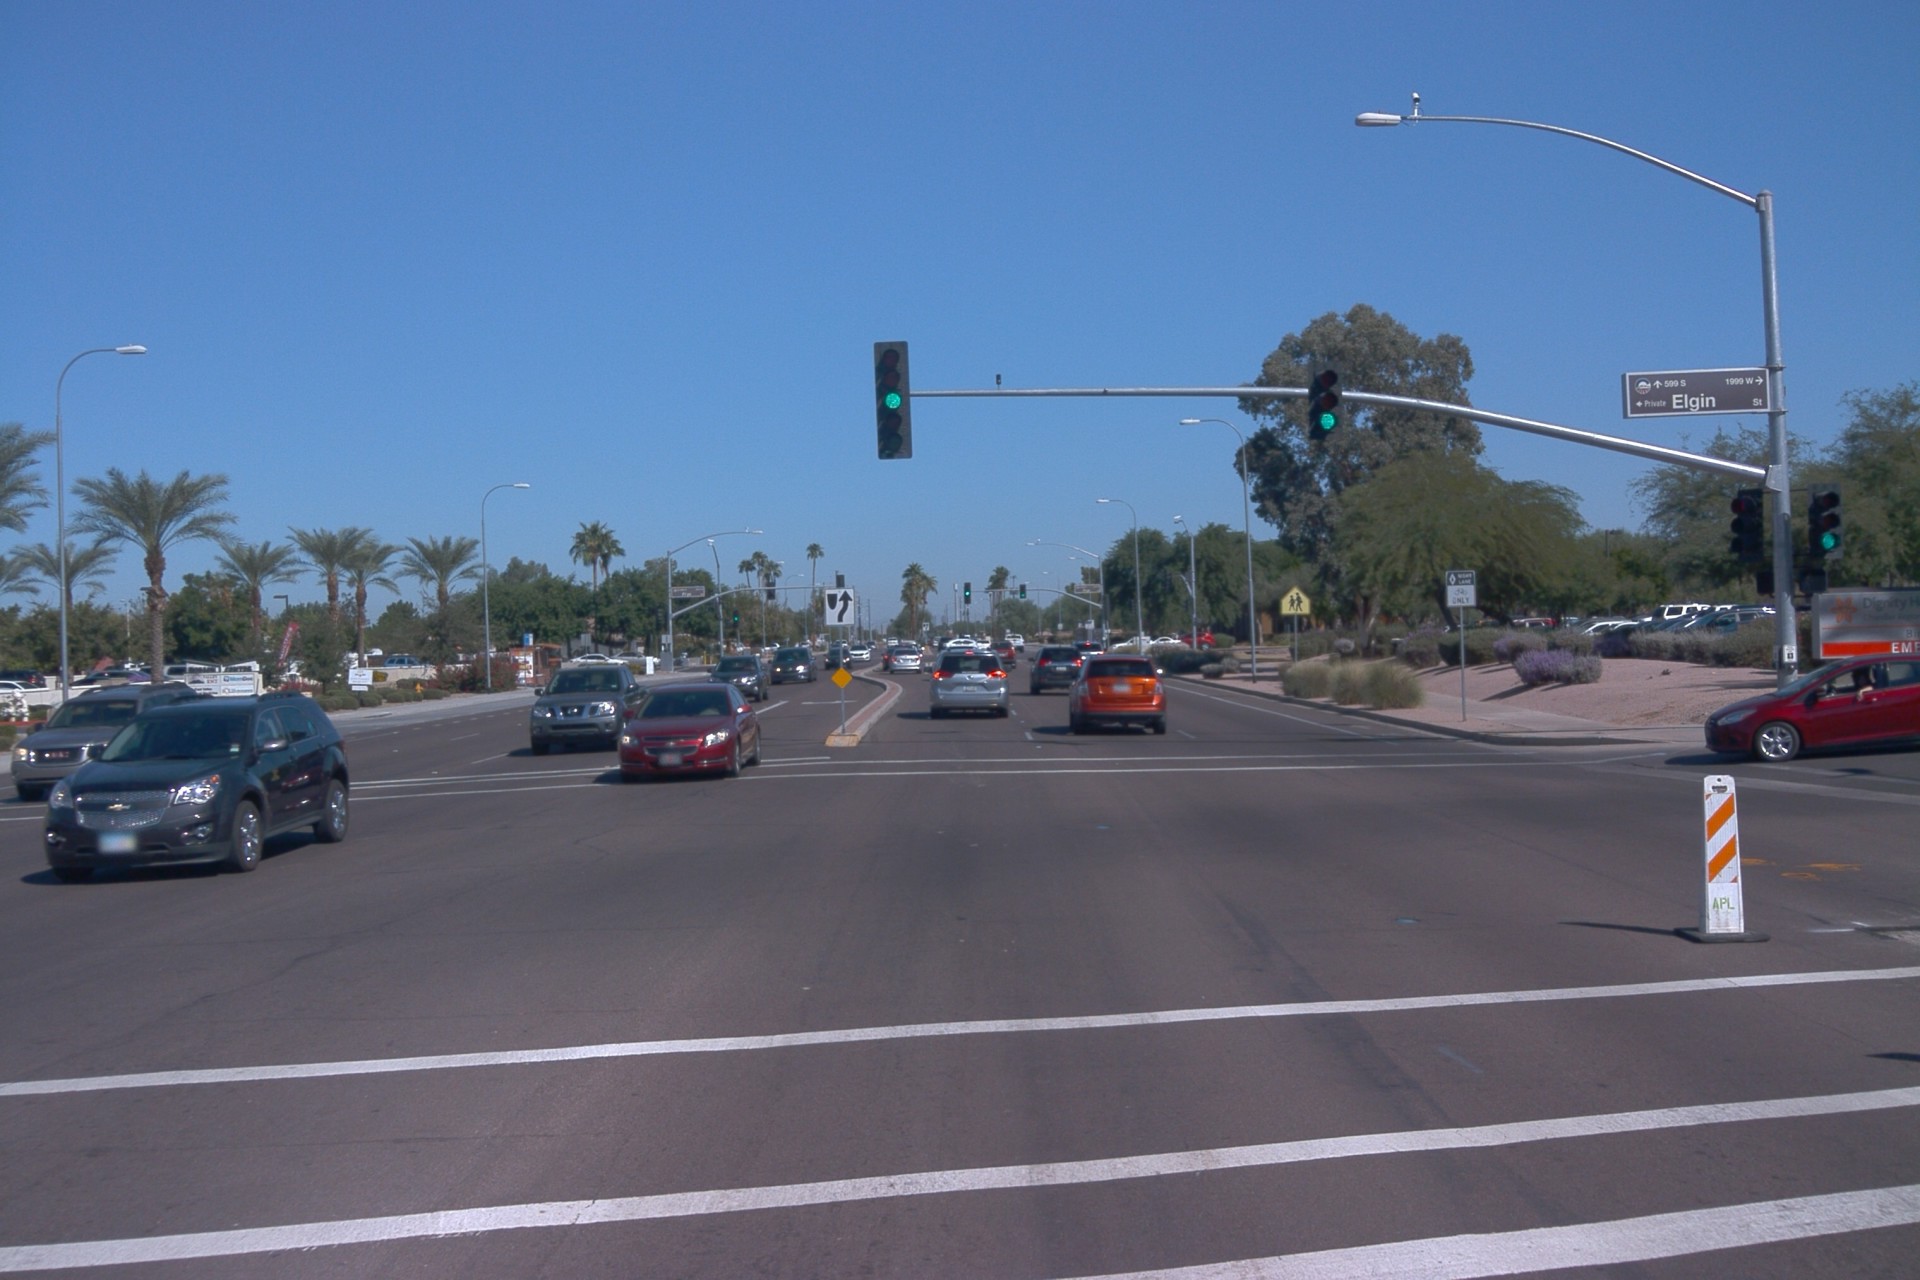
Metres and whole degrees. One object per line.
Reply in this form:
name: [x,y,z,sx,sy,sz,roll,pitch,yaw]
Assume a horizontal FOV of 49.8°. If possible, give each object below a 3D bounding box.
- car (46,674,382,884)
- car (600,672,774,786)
car: [-7.815,1.375,22.192,1.957,1.950,4.581,0,0,0]
car: [-4.213,1.343,32.716,2.128,1.590,4.774,0,0,0]
